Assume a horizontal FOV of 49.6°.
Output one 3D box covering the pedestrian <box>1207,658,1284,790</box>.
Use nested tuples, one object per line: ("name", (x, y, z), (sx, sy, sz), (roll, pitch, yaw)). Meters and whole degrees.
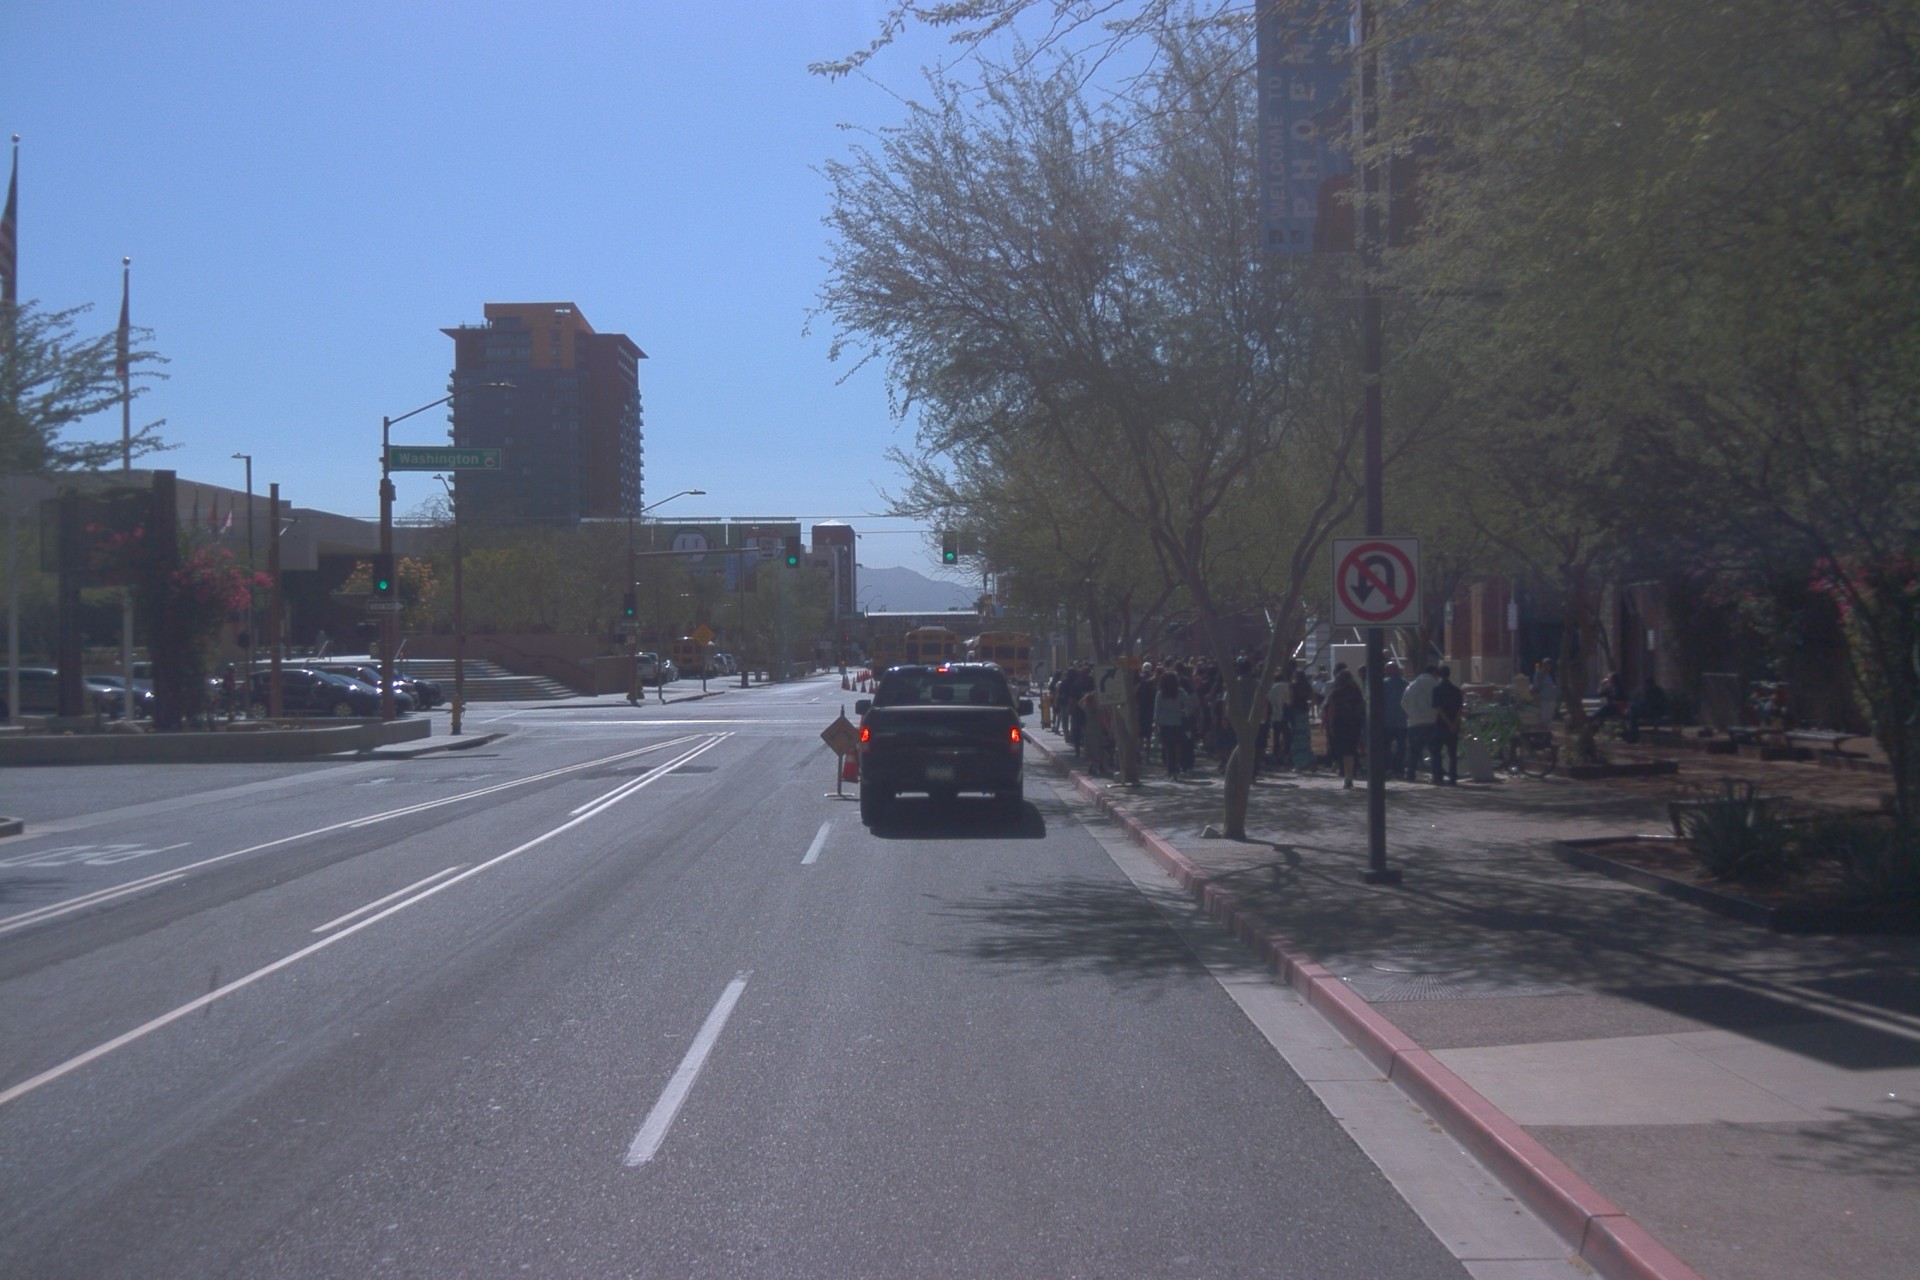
("pedestrian", (4.179, 1.221, 30.502), (0.959, 1.900, 0.880), (0, 0, -3))

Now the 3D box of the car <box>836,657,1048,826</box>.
("car", (-0.172, 1.218, 27.159), (2.487, 1.950, 5.329), (0, 0, 1))

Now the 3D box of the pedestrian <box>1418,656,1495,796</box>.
("pedestrian", (6.780, 1.157, 28.433), (0.835, 1.880, 0.792), (0, 0, -1))
